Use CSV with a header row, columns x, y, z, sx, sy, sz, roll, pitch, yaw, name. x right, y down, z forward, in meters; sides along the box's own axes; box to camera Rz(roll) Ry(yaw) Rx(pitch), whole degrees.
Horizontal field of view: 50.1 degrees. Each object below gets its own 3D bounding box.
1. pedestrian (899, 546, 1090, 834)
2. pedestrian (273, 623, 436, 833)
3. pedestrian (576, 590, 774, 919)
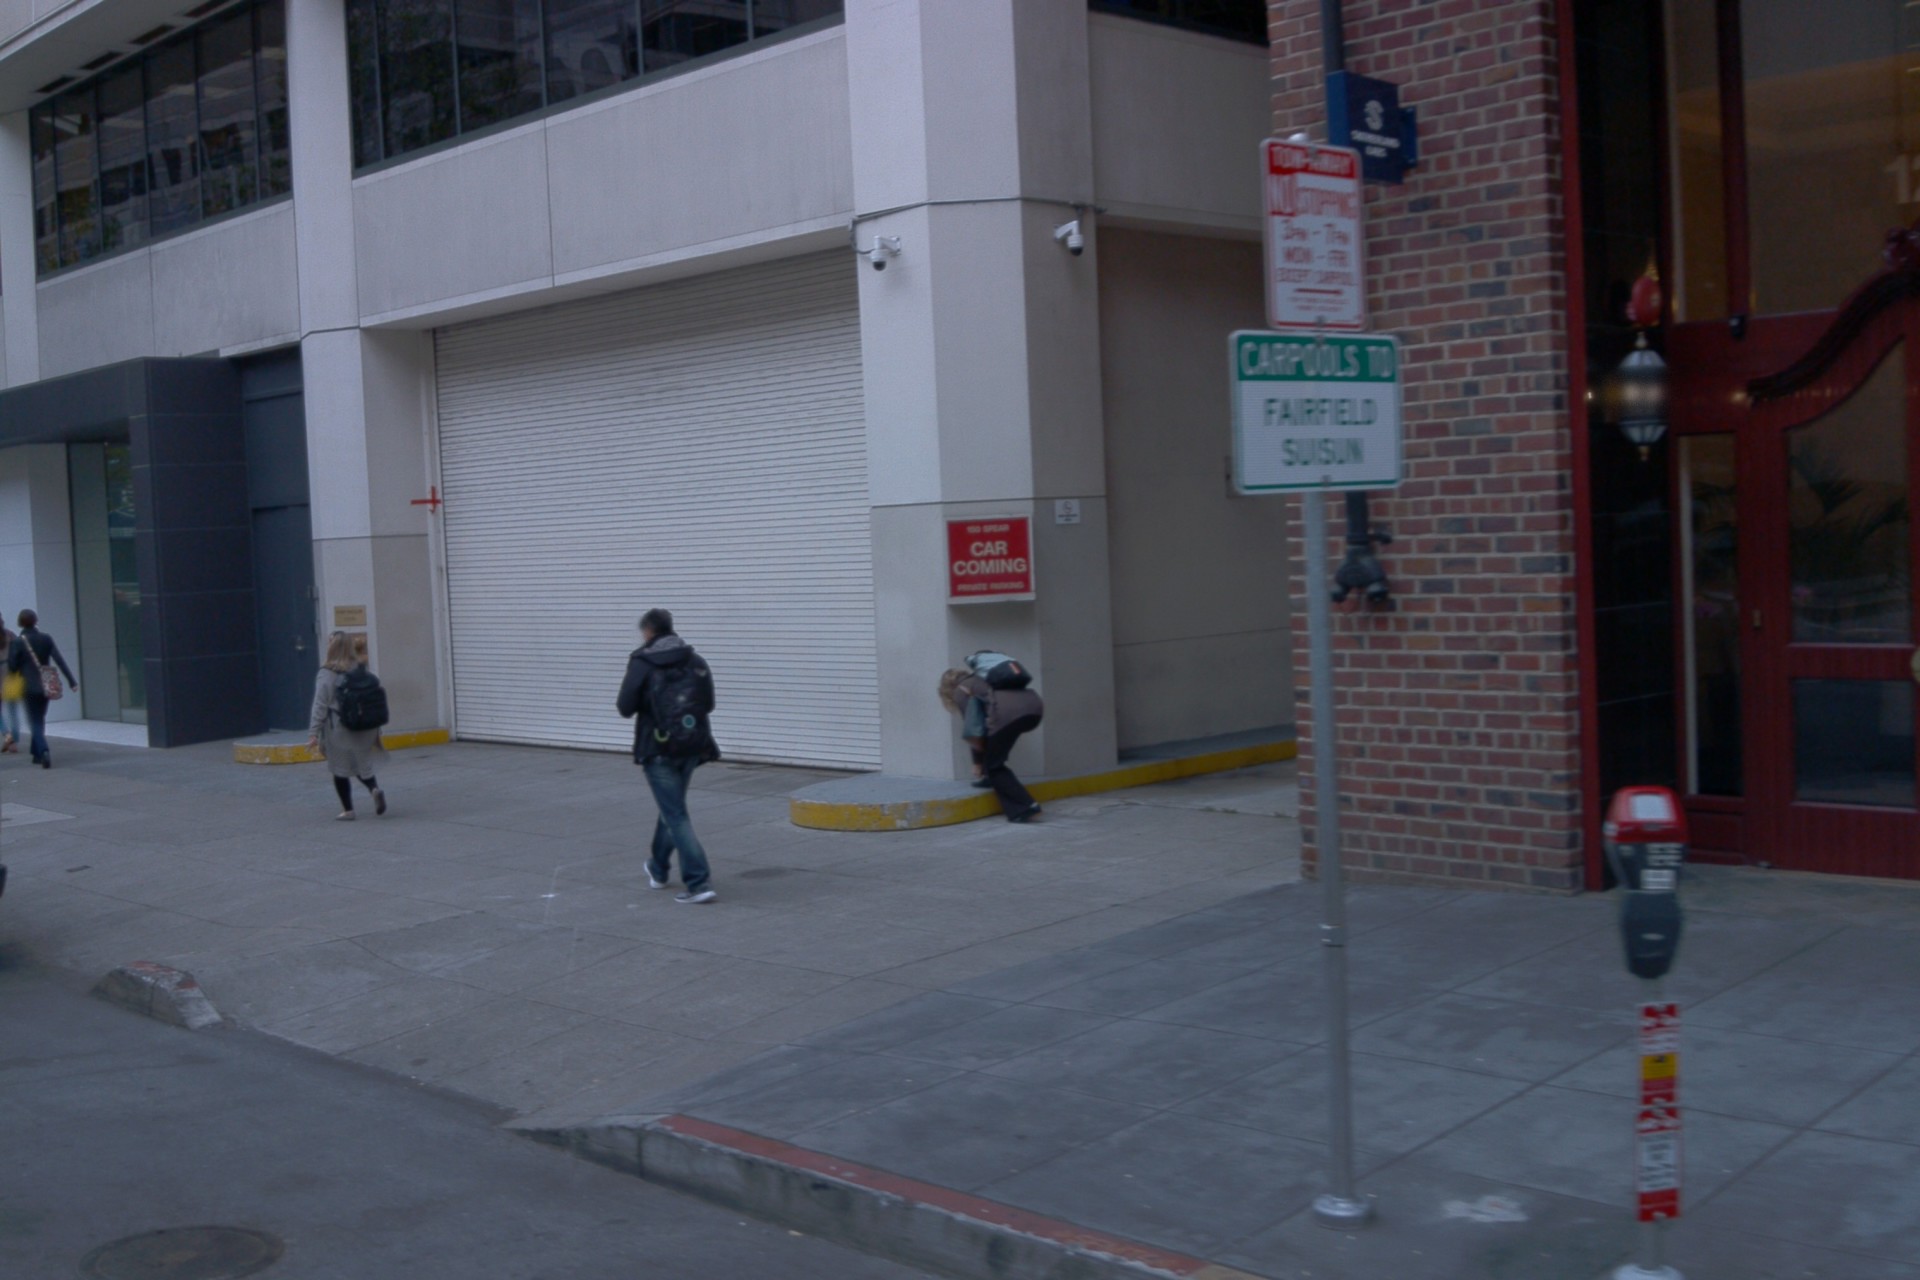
x,y,z,sx,sy,sz,roll,pitch,yaw,name
0.231,0.314,13.842,0.887,1.850,0.927,0,0,45,pedestrian
-4.803,0.666,16.313,0.882,1.600,0.985,0,0,-44,pedestrian
-1.675,0.630,12.052,0.736,1.830,0.968,0,0,-41,pedestrian
